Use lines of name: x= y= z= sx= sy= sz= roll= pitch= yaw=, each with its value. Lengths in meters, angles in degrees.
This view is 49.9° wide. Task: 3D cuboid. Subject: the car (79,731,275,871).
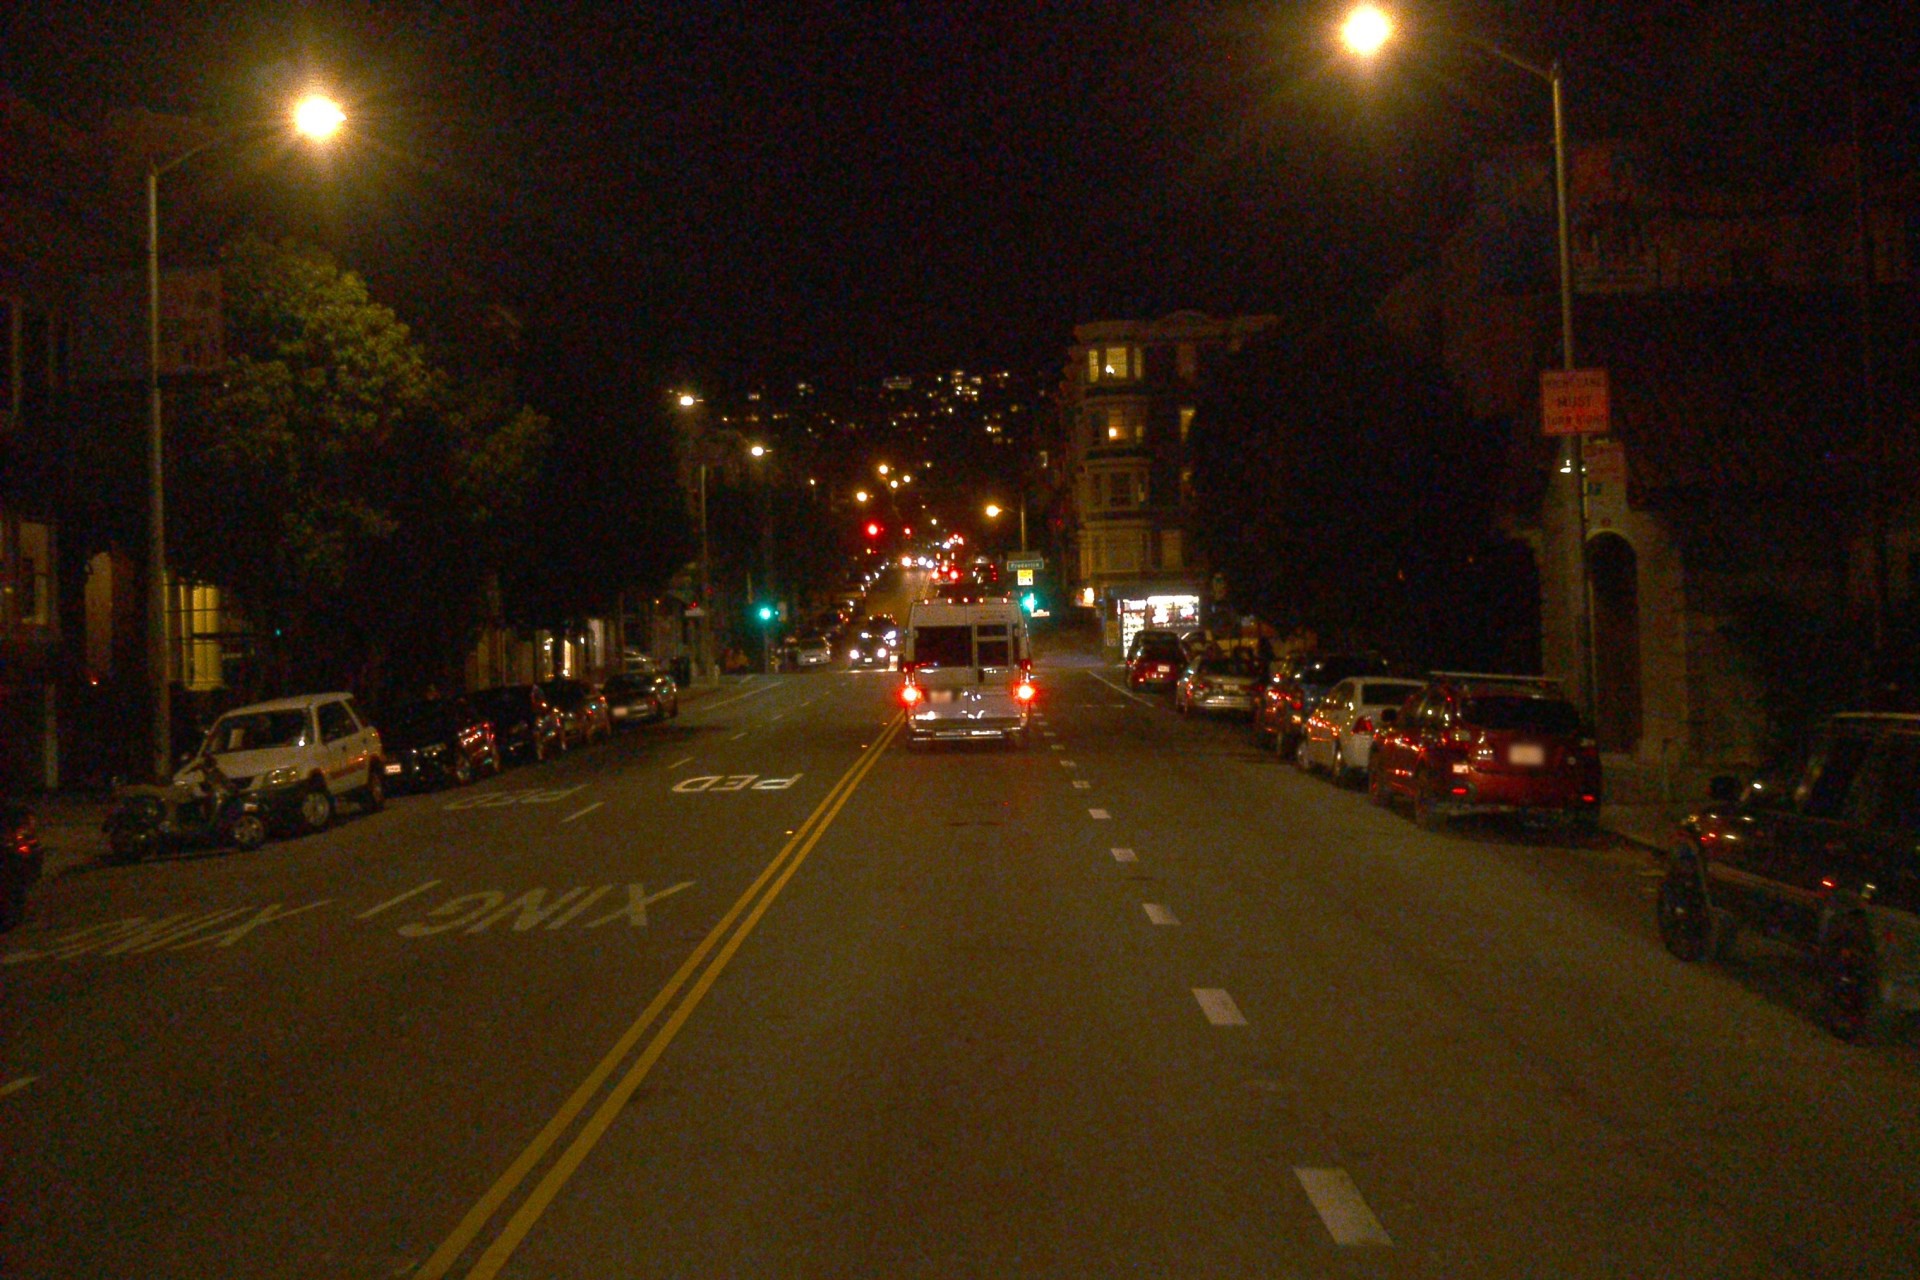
car: x=-8.905 y=1.818 z=23.526 sx=1.924 sy=1.530 sz=0.789 roll=0 pitch=0 yaw=0

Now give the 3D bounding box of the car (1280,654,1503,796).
car: x=5.795 y=1.086 z=28.335 sx=2.088 sy=1.730 sz=4.686 roll=0 pitch=0 yaw=0

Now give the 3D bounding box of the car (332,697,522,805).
car: x=-8.441 y=1.725 z=33.132 sx=2.003 sy=1.460 sz=4.673 roll=0 pitch=0 yaw=-2

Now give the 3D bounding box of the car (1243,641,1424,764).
car: x=5.992 y=0.950 z=33.669 sx=2.265 sy=1.840 sz=4.685 roll=0 pitch=0 yaw=2

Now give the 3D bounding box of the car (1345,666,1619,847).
car: x=5.702 y=1.203 z=23.152 sx=2.036 sy=1.750 sz=4.549 roll=0 pitch=0 yaw=2

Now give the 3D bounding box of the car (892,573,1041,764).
car: x=0.116 y=0.441 z=35.169 sx=2.338 sy=3.000 sz=5.110 roll=0 pitch=0 yaw=0

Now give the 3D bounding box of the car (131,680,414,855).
car: x=-8.677 y=1.544 z=26.534 sx=2.069 sy=1.940 sz=4.652 roll=0 pitch=0 yaw=0
